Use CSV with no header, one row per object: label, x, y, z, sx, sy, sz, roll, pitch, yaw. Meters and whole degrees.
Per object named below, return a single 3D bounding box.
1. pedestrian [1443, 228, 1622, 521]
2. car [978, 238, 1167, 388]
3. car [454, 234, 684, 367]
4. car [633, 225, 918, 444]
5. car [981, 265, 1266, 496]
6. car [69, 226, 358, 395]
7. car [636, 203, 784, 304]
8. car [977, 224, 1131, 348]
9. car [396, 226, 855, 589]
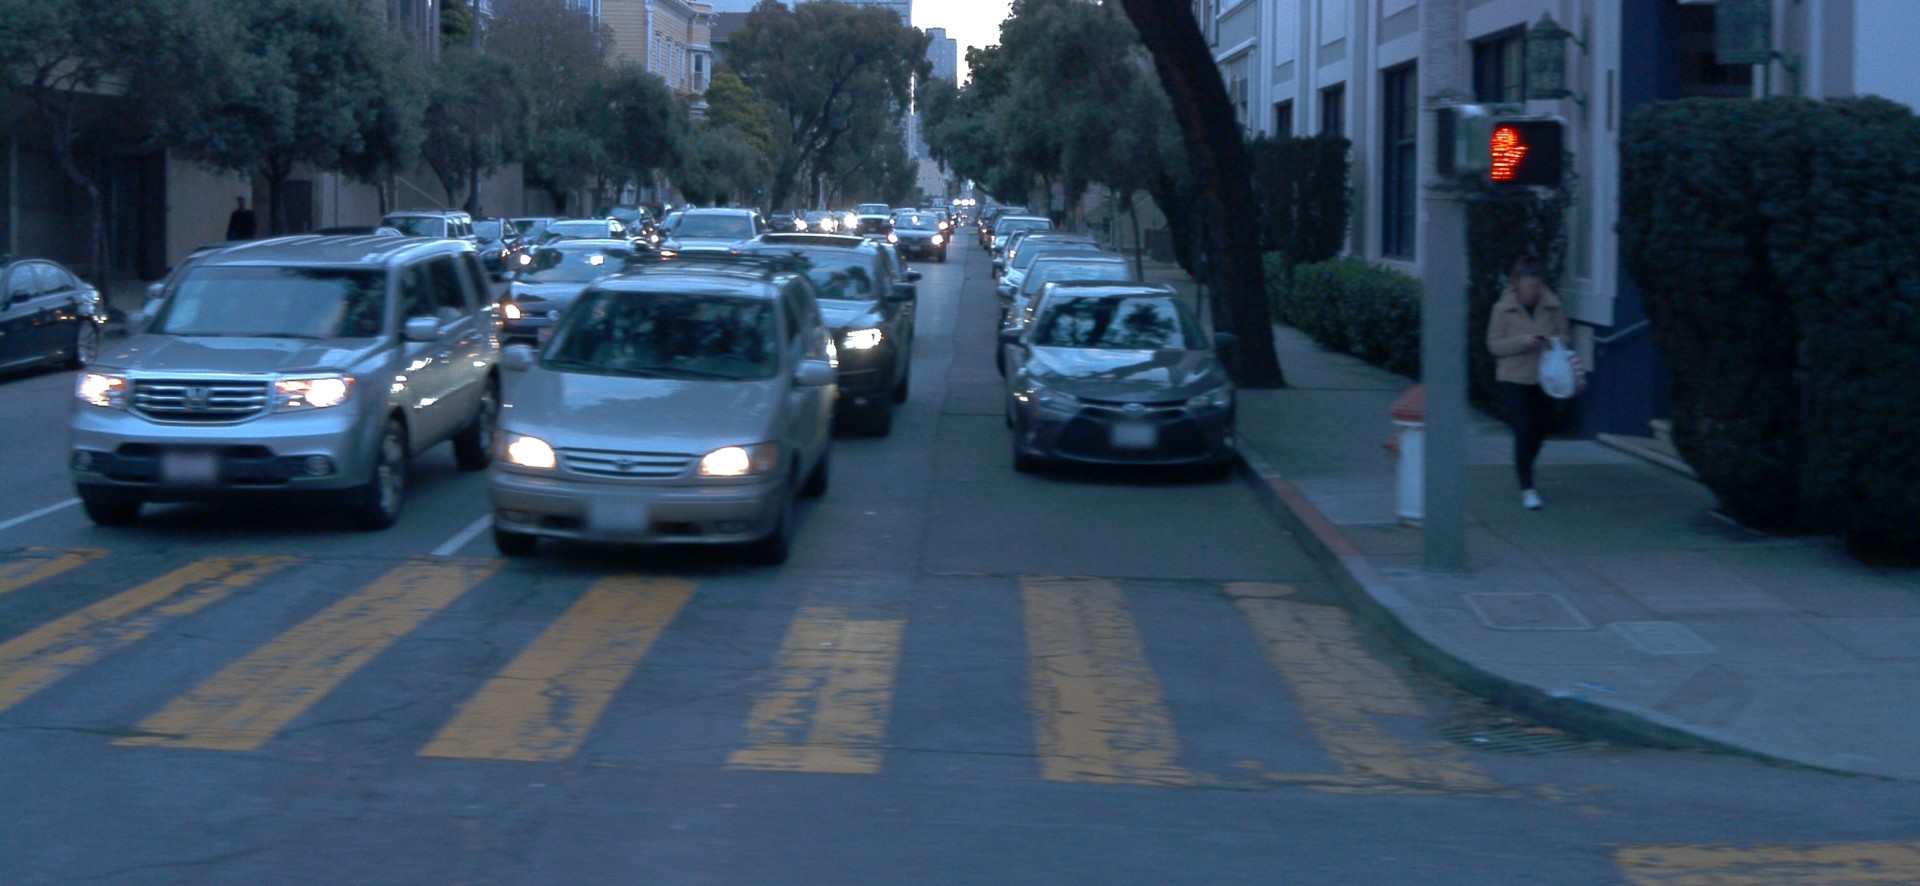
pedestrian,3.880,-0.501,14.030,0.864,1.899,1.093,1,2,-2
car,1.334,-1.680,25.388,2.113,1.592,4.335,1,6,2
car,-4.856,-1.889,26.191,2.069,1.462,4.411,1,6,0
car,-1.652,-1.204,20.267,2.225,1.810,5.016,1,6,1
car,1.272,-0.689,18.173,2.149,1.601,4.929,1,6,1
car,-8.236,-1.558,23.032,1.953,1.692,3.528,1,5,0
car,-4.543,-3.566,38.182,2.208,1.721,5.036,1,6,-1
car,1.409,-2.474,31.490,2.149,1.671,4.783,1,6,2
car,-1.992,-0.459,13.928,2.235,1.940,5.017,1,6,0
